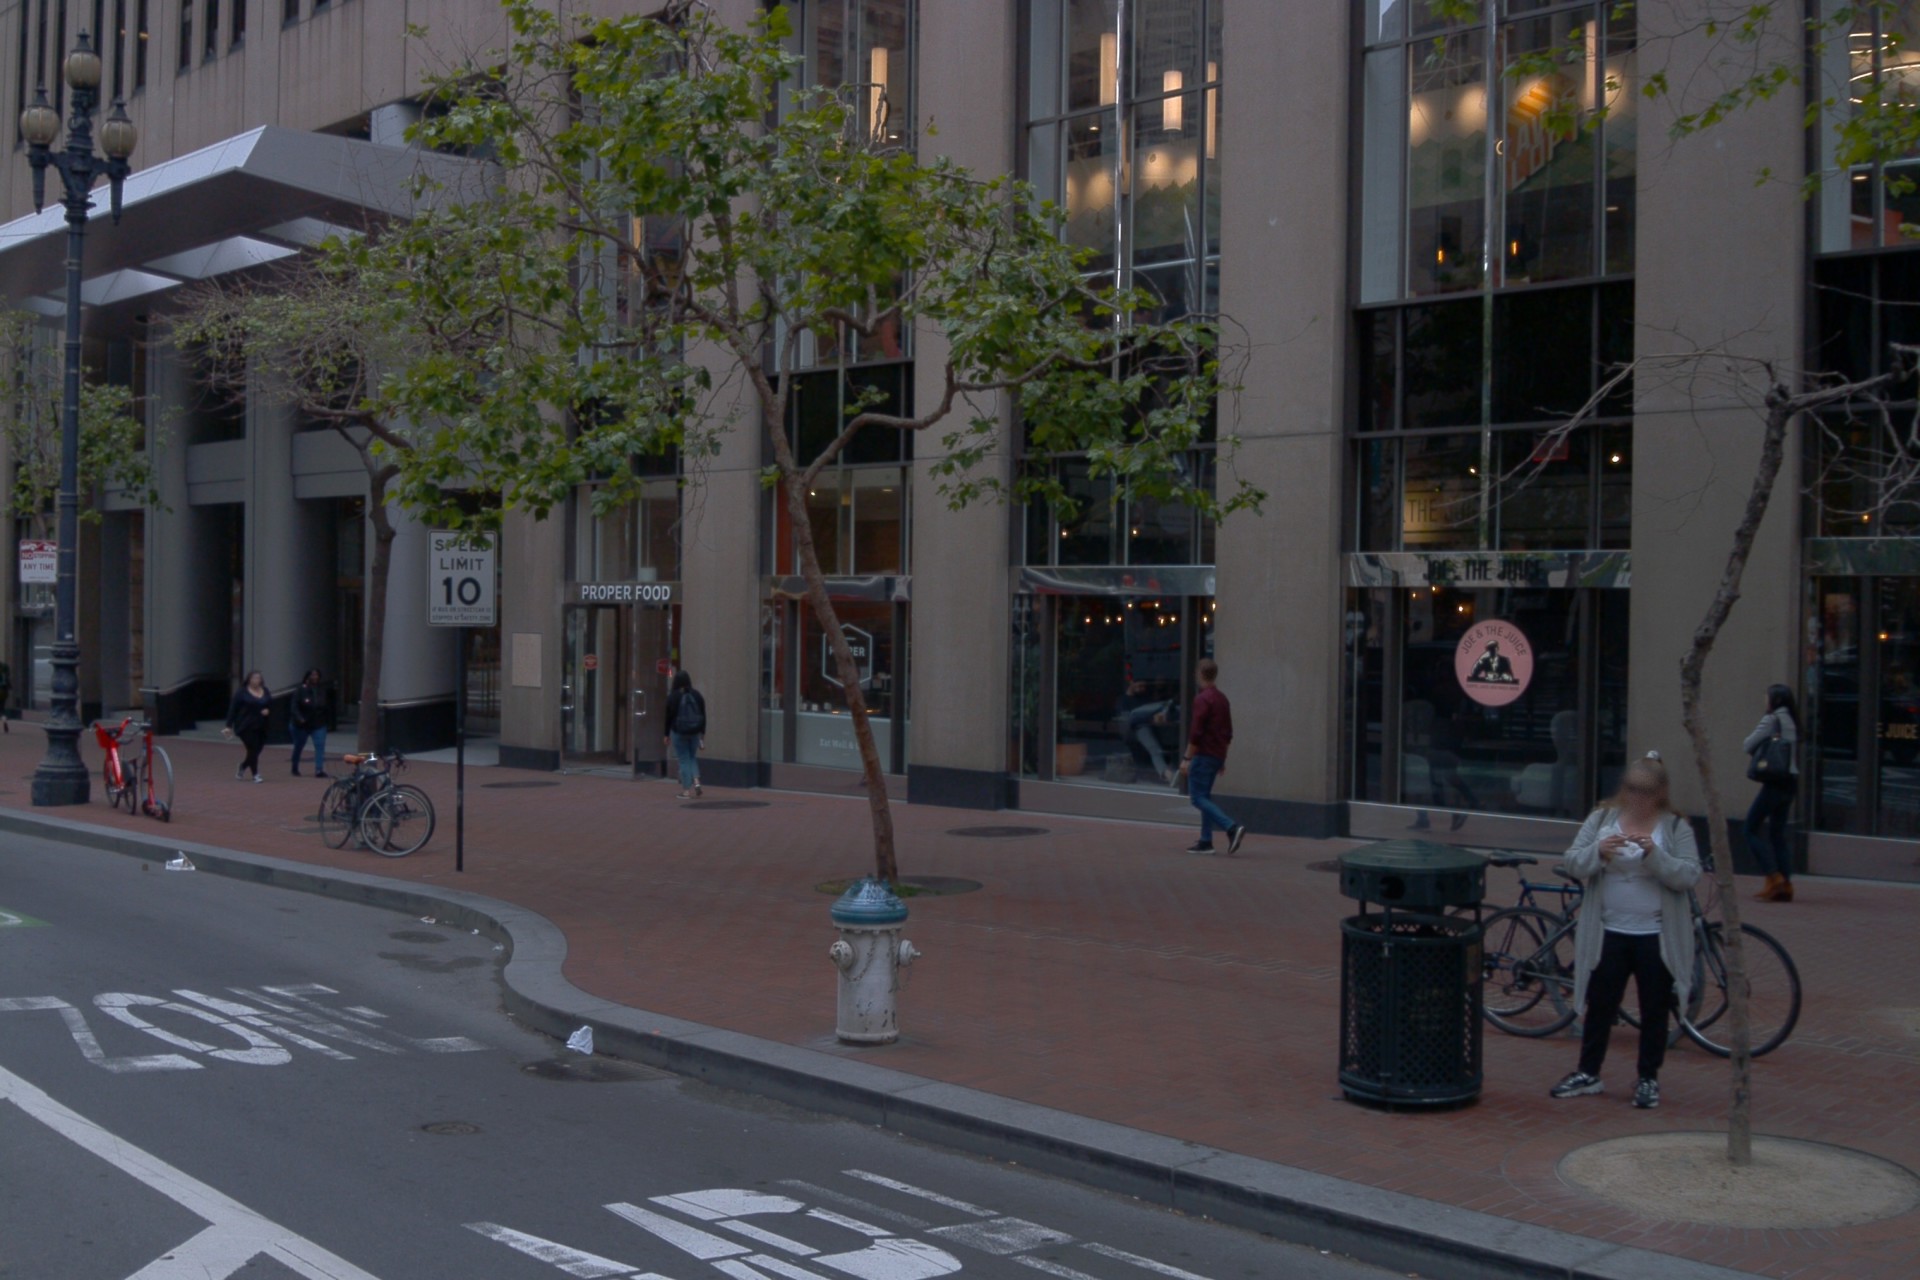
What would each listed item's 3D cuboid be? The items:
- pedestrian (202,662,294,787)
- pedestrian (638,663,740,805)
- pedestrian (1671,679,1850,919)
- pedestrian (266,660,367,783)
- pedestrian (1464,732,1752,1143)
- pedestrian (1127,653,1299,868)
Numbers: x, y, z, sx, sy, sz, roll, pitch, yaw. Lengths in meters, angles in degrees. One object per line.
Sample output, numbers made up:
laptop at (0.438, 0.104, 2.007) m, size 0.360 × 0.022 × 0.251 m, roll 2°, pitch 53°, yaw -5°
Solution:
pedestrian at (-10.074, 1.174, 28.999) m, size 0.894 × 1.710 × 1.015 m, roll 0°, pitch 0°, yaw -43°
pedestrian at (-3.380, 1.154, 25.564) m, size 0.846 × 1.710 × 0.984 m, roll 0°, pitch 0°, yaw -44°
pedestrian at (6.040, 1.162, 15.464) m, size 0.897 × 1.710 × 0.942 m, roll 0°, pitch 0°, yaw -41°
pedestrian at (-9.266, 1.148, 29.497) m, size 0.901 × 1.700 × 1.319 m, roll 0°, pitch 0°, yaw -43°
pedestrian at (2.973, 1.301, 9.411) m, size 0.912 × 1.700 × 0.909 m, roll 0°, pitch 0°, yaw -40°
pedestrian at (2.347, 1.077, 19.039) m, size 1.272 × 1.910 × 0.945 m, roll 0°, pitch 0°, yaw 41°
